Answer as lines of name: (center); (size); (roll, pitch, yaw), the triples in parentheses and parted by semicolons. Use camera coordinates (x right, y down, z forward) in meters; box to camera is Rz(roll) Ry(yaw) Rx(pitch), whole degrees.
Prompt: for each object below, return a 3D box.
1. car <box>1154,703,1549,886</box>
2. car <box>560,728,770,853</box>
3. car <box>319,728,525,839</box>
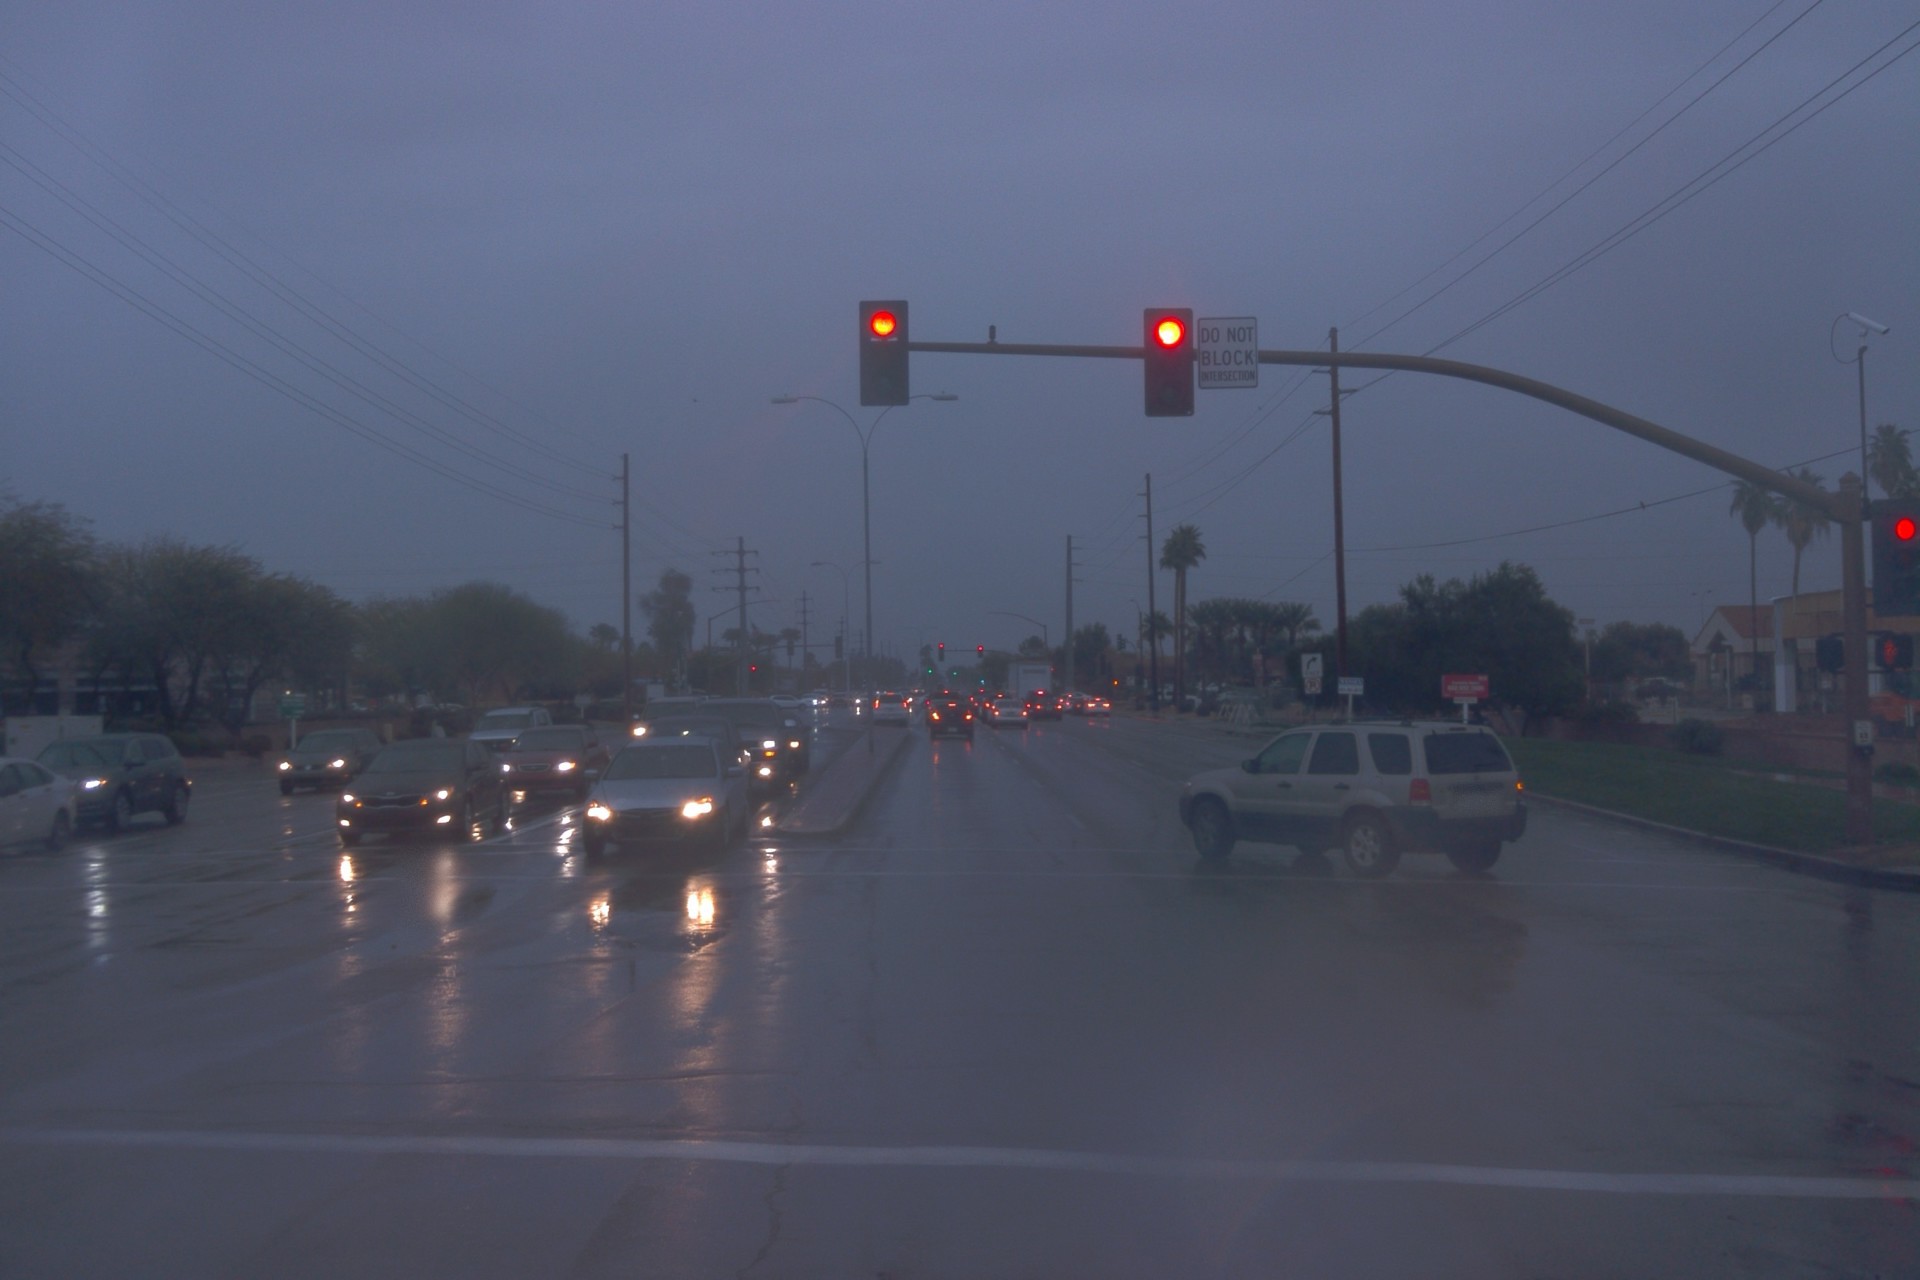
car: (4.440, 1.696, 24.207); (1.998, 1.870, 4.420); (1, -1, -33)
car: (-3.794, 1.927, 27.539); (2.102, 1.410, 4.605); (0, -1, 1)
car: (-8.040, 2.110, 31.497); (2.042, 1.440, 4.763); (0, -1, -2)
